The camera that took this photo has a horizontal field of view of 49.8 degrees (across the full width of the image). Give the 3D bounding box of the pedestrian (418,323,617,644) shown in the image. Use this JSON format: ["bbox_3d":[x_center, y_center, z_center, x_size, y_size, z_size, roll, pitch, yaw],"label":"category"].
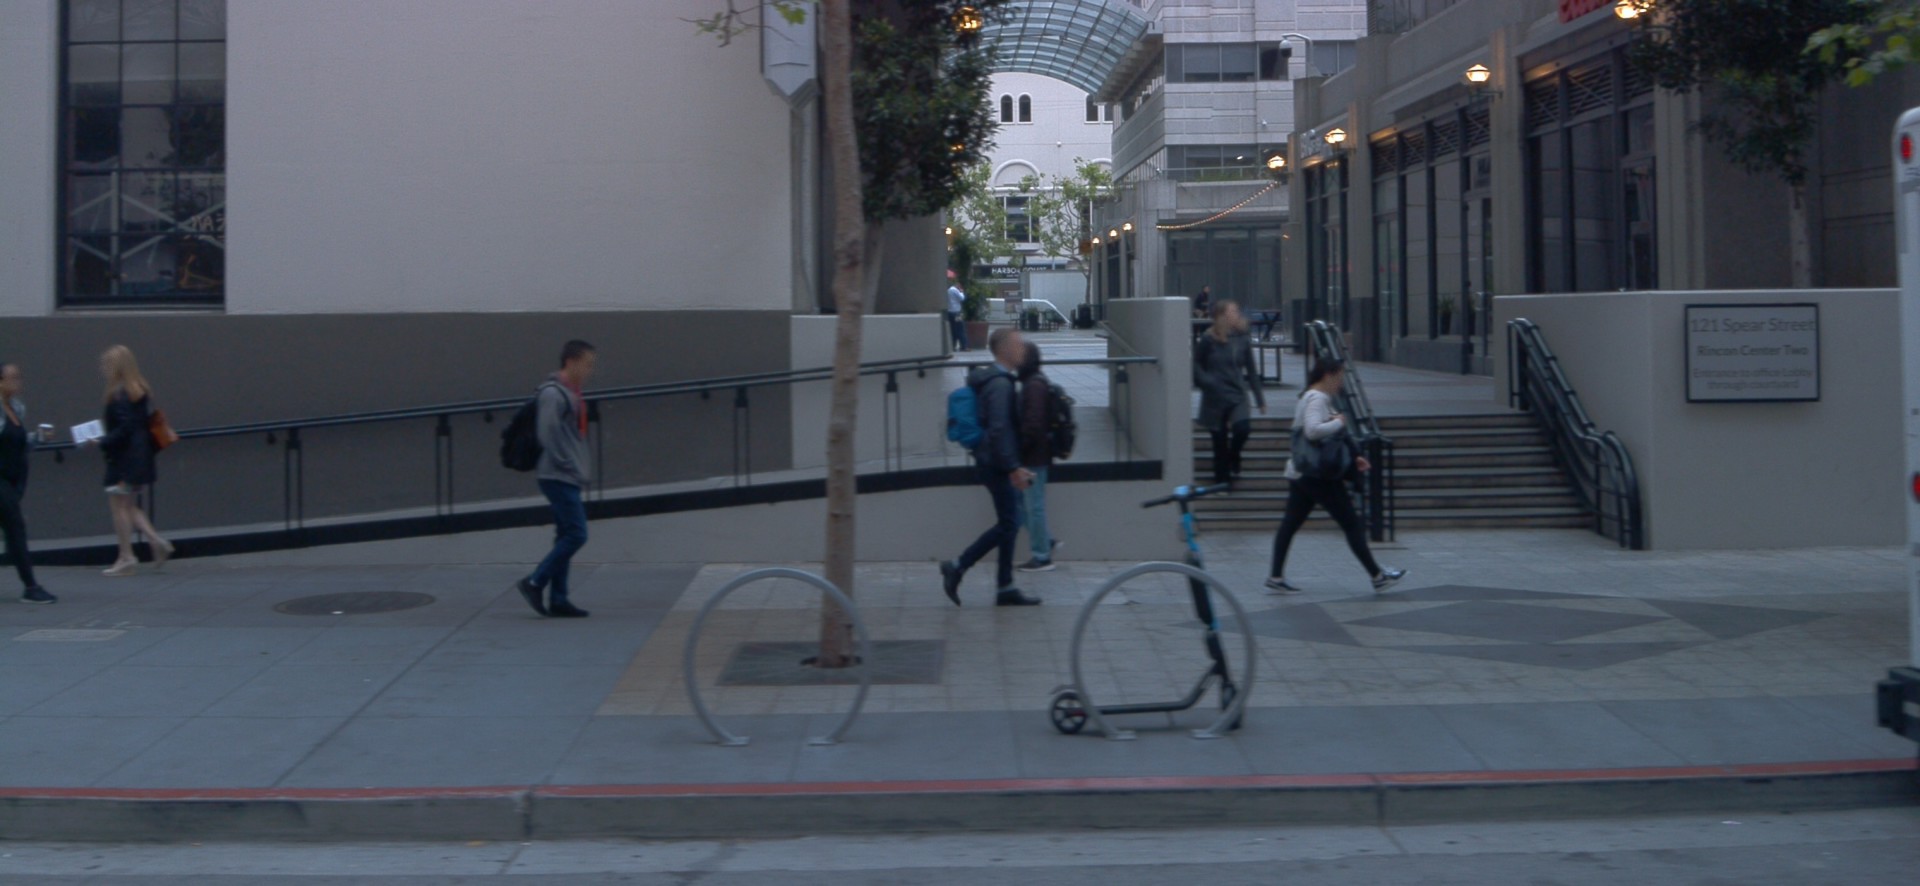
[{"bbox_3d":[-2.762,0.221,13.008,1.034,1.899,0.879,-1,2,0],"label":"pedestrian"}]

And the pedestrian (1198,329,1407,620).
[{"bbox_3d":[2.236,0.172,13.641,1.195,1.776,1.024,-1,3,0],"label":"pedestrian"}]

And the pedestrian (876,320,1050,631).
[{"bbox_3d":[0.012,0.173,13.201,1.053,1.856,0.923,-1,2,-1],"label":"pedestrian"}]

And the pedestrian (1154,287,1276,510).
[{"bbox_3d":[2.160,-0.403,17.602,0.830,1.796,0.897,-1,2,-7],"label":"pedestrian"}]

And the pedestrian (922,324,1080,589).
[{"bbox_3d":[0.282,0.072,14.964,1.065,1.806,0.805,-1,2,-3],"label":"pedestrian"}]
